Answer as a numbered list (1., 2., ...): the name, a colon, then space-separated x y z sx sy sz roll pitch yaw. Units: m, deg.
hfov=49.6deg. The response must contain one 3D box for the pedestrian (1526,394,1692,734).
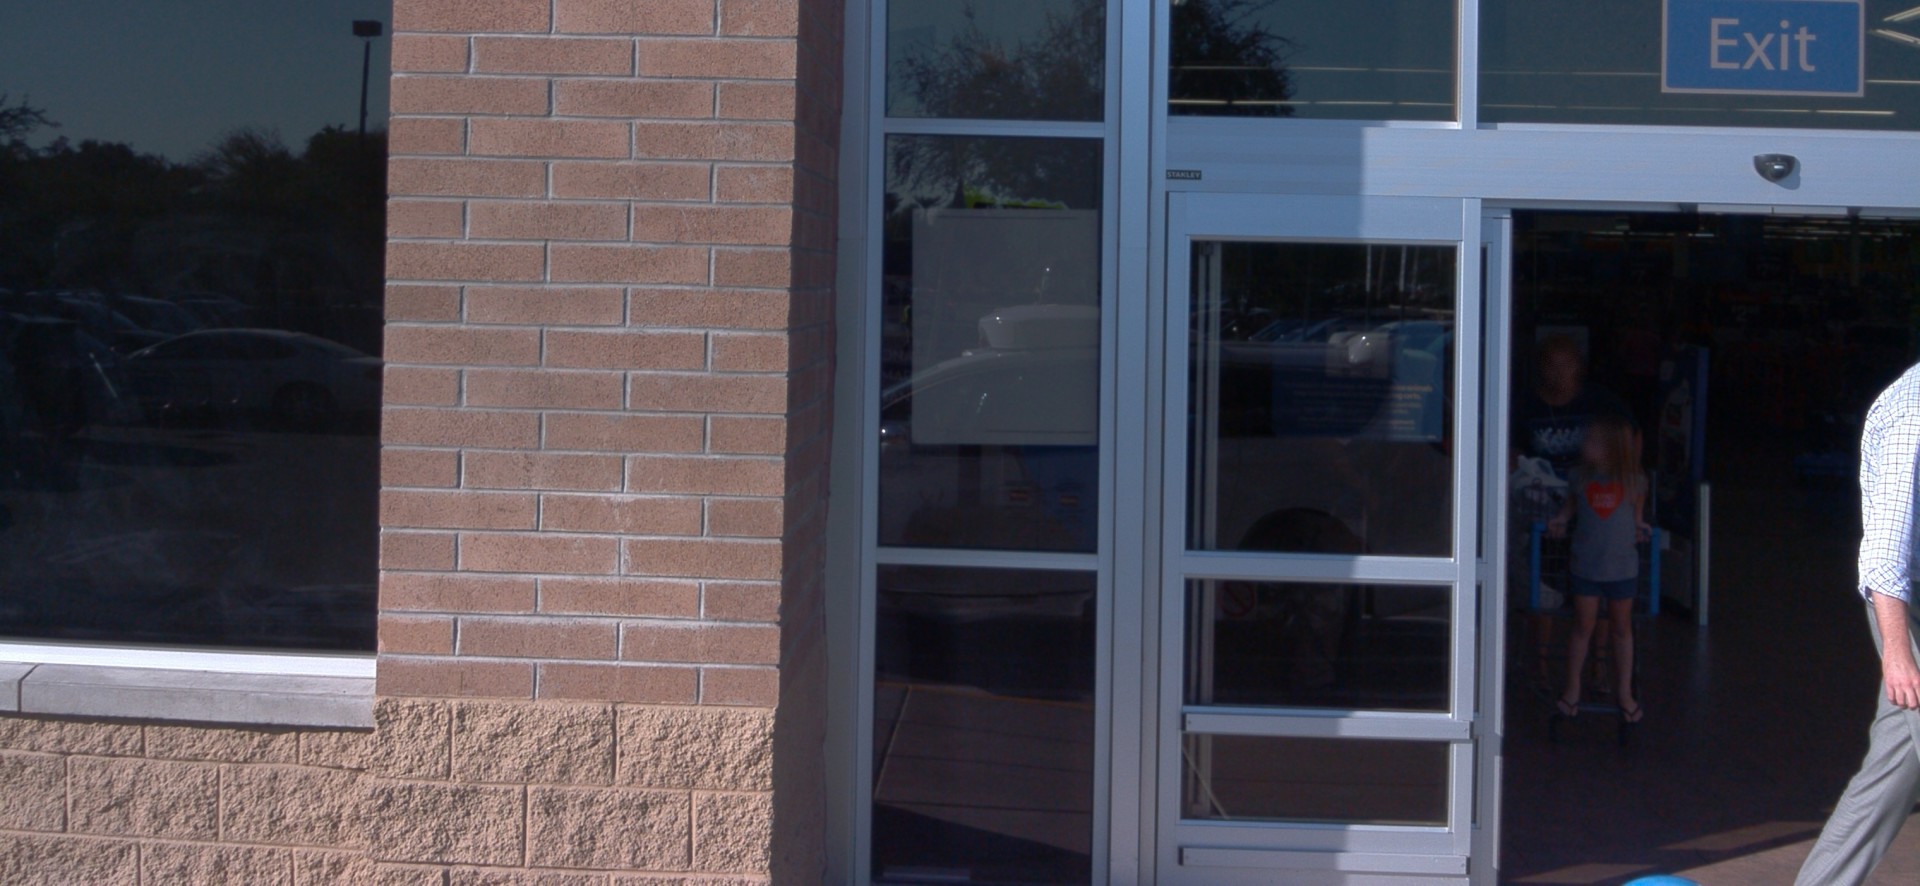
1. pedestrian: 2.539 0.449 8.171 0.536 1.240 0.545 1 1 8

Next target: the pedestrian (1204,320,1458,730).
1. pedestrian: 1.641 0.315 9.258 0.797 1.690 0.782 0 1 -24
